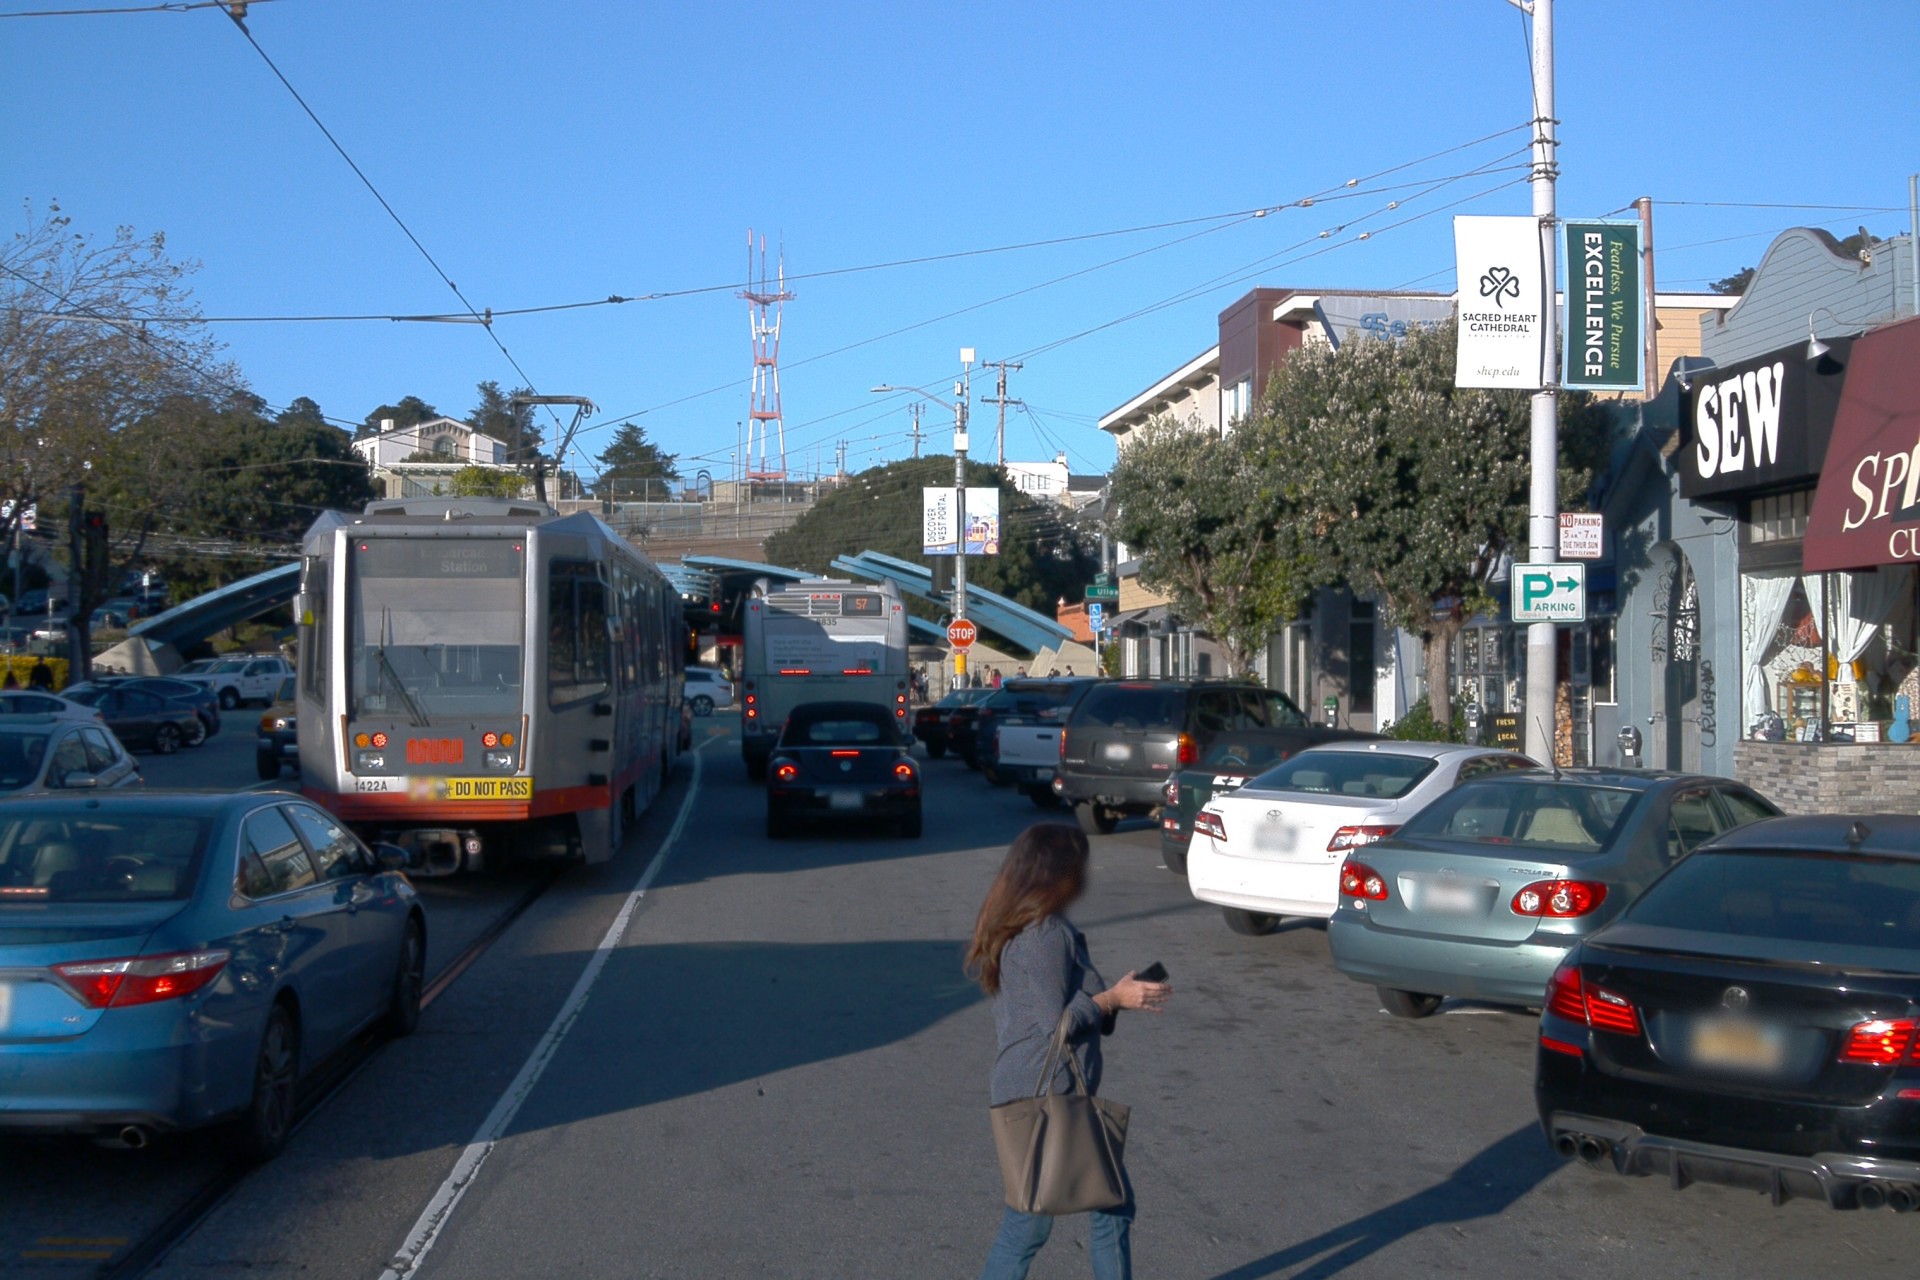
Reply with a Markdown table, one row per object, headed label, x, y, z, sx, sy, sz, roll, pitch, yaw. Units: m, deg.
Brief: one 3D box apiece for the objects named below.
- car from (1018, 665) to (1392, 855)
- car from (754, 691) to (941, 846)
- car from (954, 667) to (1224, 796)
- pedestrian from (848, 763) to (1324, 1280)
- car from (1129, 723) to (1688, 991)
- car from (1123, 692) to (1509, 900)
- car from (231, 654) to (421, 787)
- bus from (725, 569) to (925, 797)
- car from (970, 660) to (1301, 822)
| label | x | y | z | sx | sy | sz | roll | pitch | yaw |
| --- | --- | --- | --- | --- | --- | --- | --- | --- | --- |
| car | 2.975 | 1.273 | 24.093 | 2.267 | 1.940 | 4.891 | 0 | 0 | 35 |
| car | -1.365 | 1.429 | 24.313 | 2.012 | 1.580 | 4.002 | 0 | 0 | -5 |
| car | 2.083 | 1.354 | 32.283 | 2.117 | 1.830 | 4.377 | 0 | 0 | 37 |
| pedestrian | 0.301 | 1.257 | 5.785 | 1.127 | 1.760 | 1.059 | 0 | 0 | -8 |
| car | 3.573 | 1.499 | 15.850 | 2.155 | 1.560 | 4.683 | 0 | 0 | 42 |
| car | 3.513 | 1.414 | 20.086 | 2.039 | 1.730 | 3.659 | 0 | 0 | 42 |
| car | -10.514 | 1.272 | 34.719 | 2.205 | 2.080 | 4.648 | 0 | 0 | -6 |
| bus | -2.466 | 0.676 | 37.455 | 2.992 | 3.400 | 12.791 | 0 | 0 | -4 |
| car | 2.455 | 1.264 | 27.884 | 2.182 | 1.960 | 4.676 | 0 | 0 | 39 |
